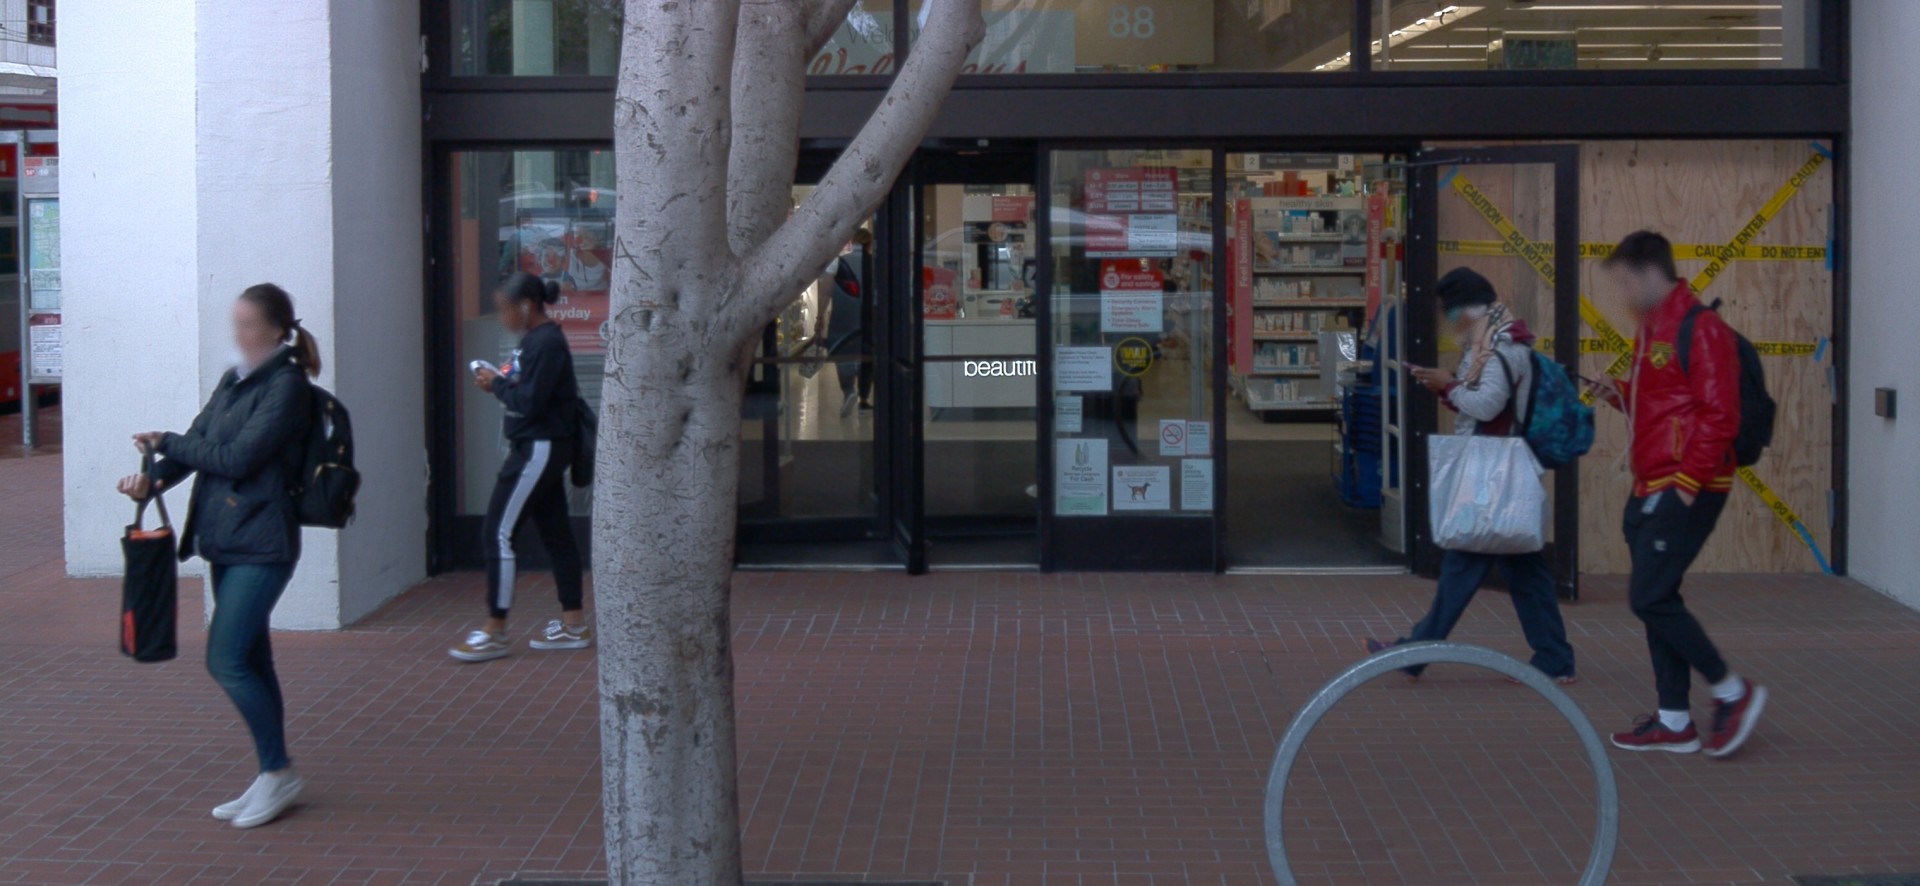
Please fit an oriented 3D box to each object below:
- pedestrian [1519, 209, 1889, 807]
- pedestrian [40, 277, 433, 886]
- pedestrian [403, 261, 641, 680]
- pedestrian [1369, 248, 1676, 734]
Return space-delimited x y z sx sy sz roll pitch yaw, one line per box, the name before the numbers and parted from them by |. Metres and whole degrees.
pedestrian | 2.460 0.171 6.881 0.979 1.895 0.716 0 1 -1
pedestrian | -2.219 0.360 6.297 0.902 1.715 0.834 -1 2 -40
pedestrian | -1.797 0.078 8.536 0.865 1.655 0.696 0 1 -3
pedestrian | 2.097 0.122 7.802 0.980 1.715 0.966 0 2 6
